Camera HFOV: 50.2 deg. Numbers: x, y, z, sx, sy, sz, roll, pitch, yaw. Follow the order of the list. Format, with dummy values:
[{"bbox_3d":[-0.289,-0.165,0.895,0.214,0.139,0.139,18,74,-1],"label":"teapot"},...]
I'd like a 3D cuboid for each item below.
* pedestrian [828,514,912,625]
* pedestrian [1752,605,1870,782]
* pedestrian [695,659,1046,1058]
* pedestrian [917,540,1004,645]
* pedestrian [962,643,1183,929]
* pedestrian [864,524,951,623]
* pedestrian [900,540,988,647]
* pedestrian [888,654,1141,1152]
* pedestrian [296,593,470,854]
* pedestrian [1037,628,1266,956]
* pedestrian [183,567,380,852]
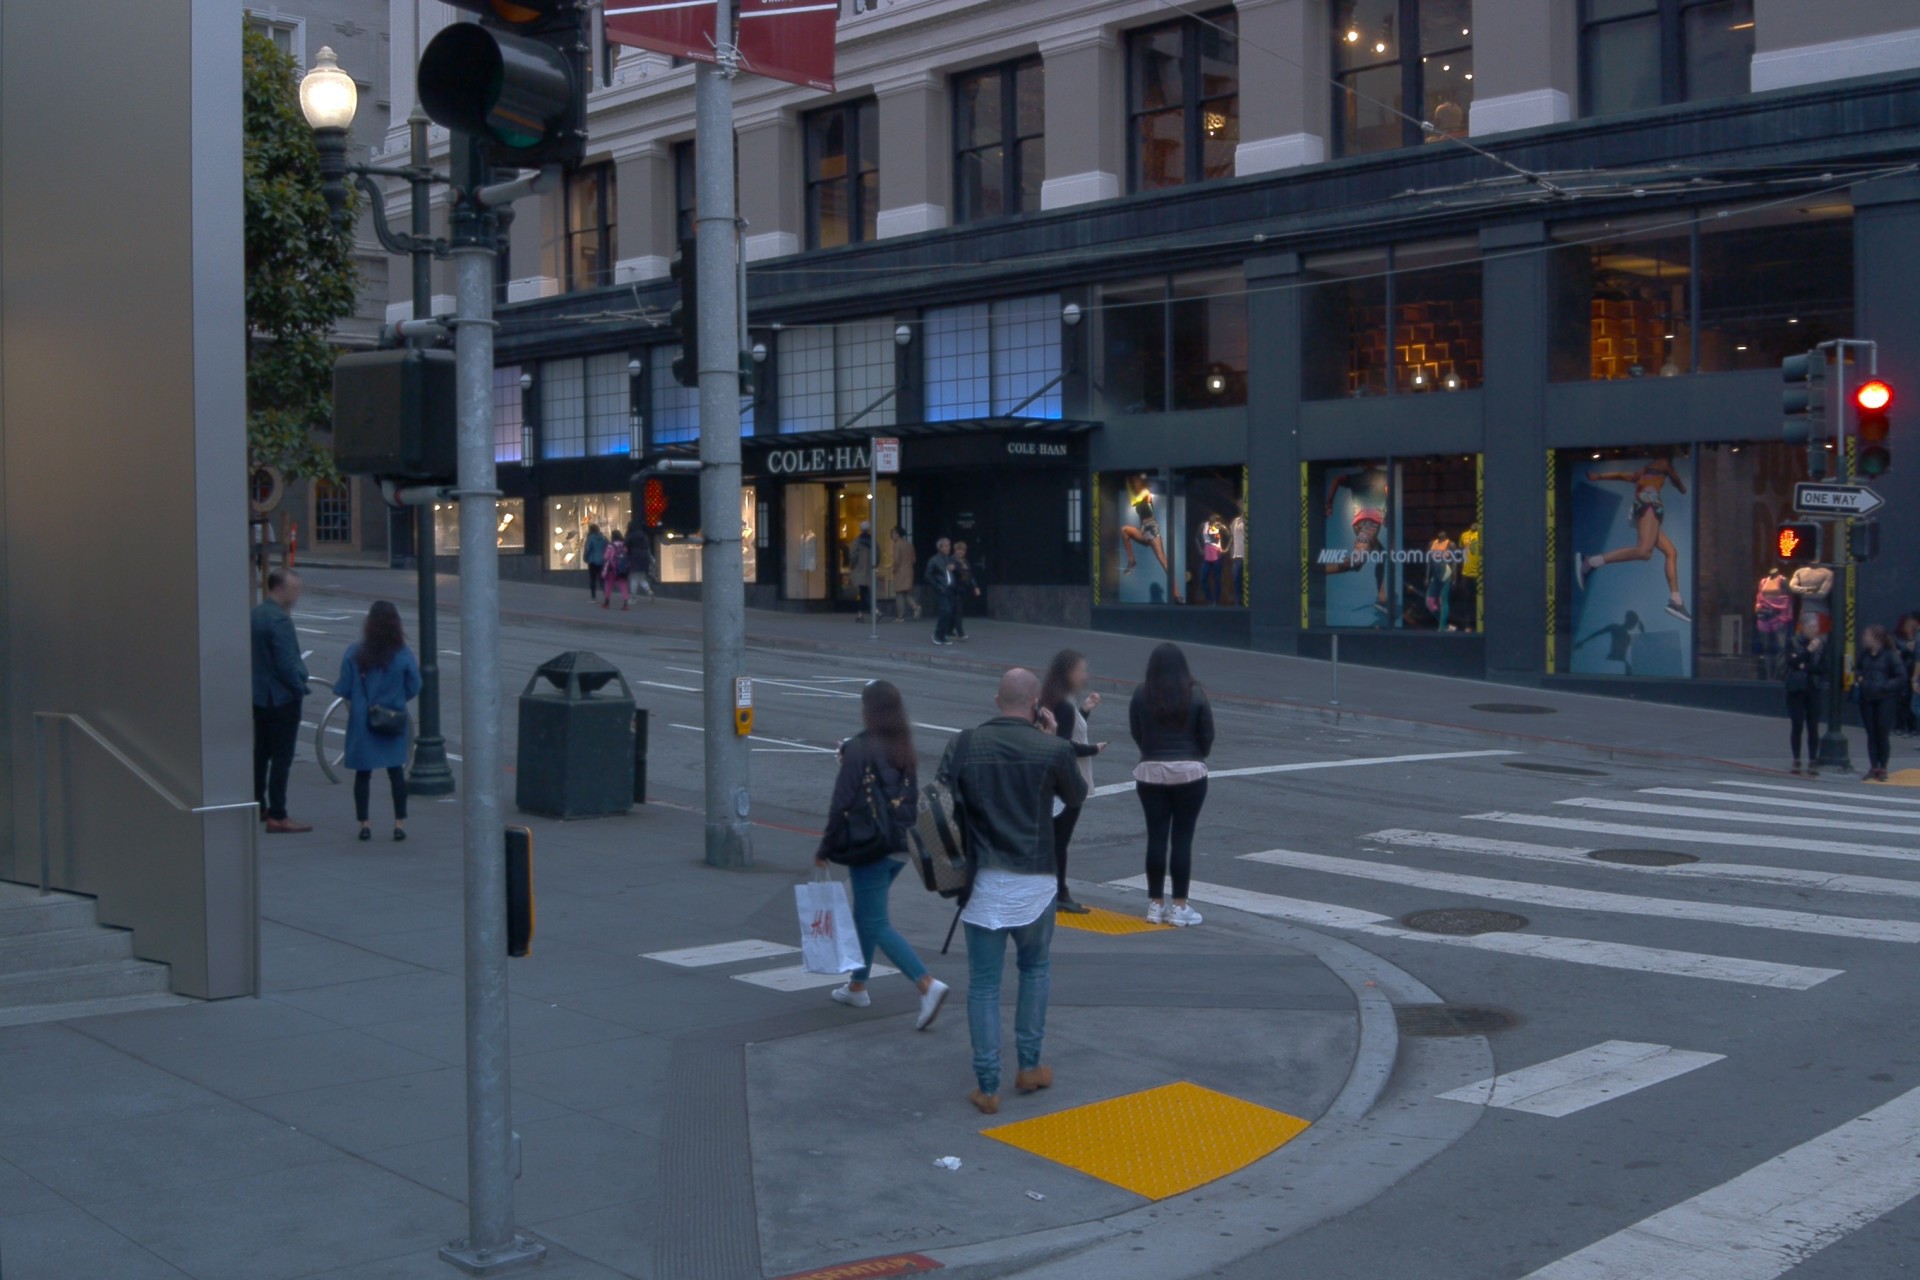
[{"bbox_3d":[-1.582,-1.222,35.897,1.104,1.920,0.963,1,1,44],"label":"pedestrian"},{"bbox_3d":[8.945,0.533,21.527,0.895,1.800,1.088,1,1,36],"label":"pedestrian"},{"bbox_3d":[-0.408,0.925,9.407,1.097,1.640,1.174,1,1,43],"label":"pedestrian"},{"bbox_3d":[0.005,-0.750,32.750,1.047,1.650,0.891,1,1,45],"label":"pedestrian"},{"bbox_3d":[0.713,0.886,13.091,1.003,1.710,0.998,0,1,-35],"label":"pedestrian"},{"bbox_3d":[-0.920,-1.161,36.188,1.109,1.700,1.053,1,1,40],"label":"pedestrian"},{"bbox_3d":[-0.249,-0.725,32.111,1.047,1.650,0.891,1,1,45],"label":"pedestrian"},{"bbox_3d":[0.191,0.979,8.147,0.928,1.820,1.125,0,1,-1],"label":"pedestrian"},{"bbox_3d":[-4.049,0.554,14.370,0.951,1.750,0.801,0,1,-37],"label":"pedestrian"},{"bbox_3d":[1.164,0.879,12.494,1.113,1.890,0.813,0,1,-31],"label":"pedestrian"},{"bbox_3d":[-4.875,0.469,14.734,0.981,1.960,0.939,1,1,34],"label":"pedestrian"}]
